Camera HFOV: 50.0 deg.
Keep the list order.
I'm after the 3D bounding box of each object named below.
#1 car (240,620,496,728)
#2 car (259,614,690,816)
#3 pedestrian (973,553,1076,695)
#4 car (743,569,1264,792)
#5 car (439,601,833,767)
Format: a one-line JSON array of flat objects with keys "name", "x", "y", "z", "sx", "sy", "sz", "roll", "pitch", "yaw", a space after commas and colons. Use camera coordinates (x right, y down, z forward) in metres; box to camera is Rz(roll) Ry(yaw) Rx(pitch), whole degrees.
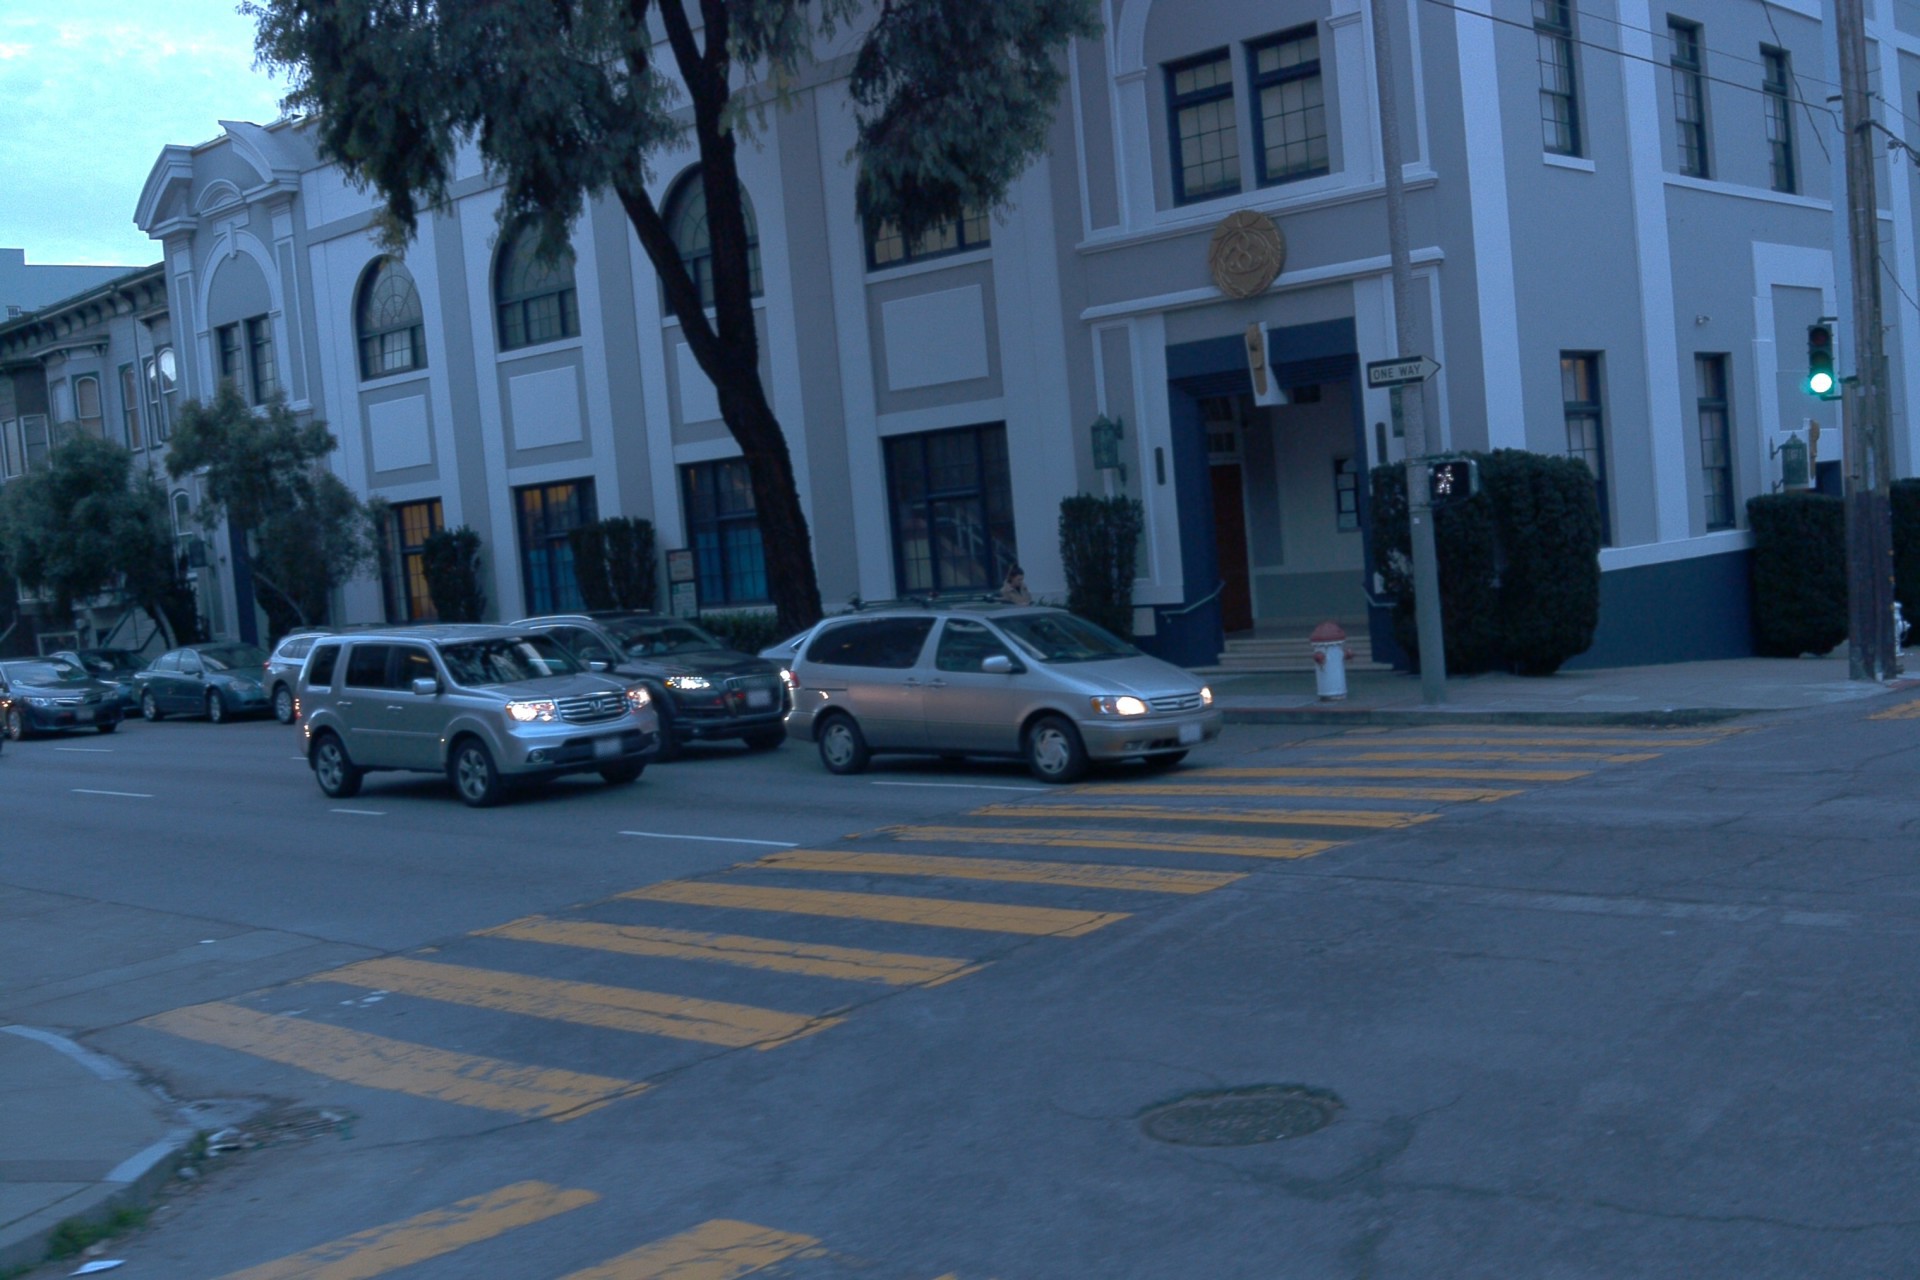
[{"name": "car", "x": -10.150, "y": 0.515, "z": 35.064, "sx": 4.747, "sy": 1.680, "sz": 2.151, "roll": 1, "pitch": 1, "yaw": 45}, {"name": "car", "x": -5.296, "y": 0.692, "z": 22.056, "sx": 4.735, "sy": 1.900, "sz": 2.269, "roll": 1, "pitch": 1, "yaw": 44}, {"name": "pedestrian", "x": 0.884, "y": -0.222, "z": 28.090, "sx": 1.087, "sy": 1.903, "sz": 0.865, "roll": 1, "pitch": 1, "yaw": 43}, {"name": "car", "x": 0.316, "y": 0.315, "z": 20.566, "sx": 4.978, "sy": 1.950, "sz": 2.238, "roll": 1, "pitch": 1, "yaw": 44}, {"name": "car", "x": -4.057, "y": 0.446, "z": 25.199, "sx": 4.978, "sy": 1.820, "sz": 2.228, "roll": 1, "pitch": 1, "yaw": 44}]
